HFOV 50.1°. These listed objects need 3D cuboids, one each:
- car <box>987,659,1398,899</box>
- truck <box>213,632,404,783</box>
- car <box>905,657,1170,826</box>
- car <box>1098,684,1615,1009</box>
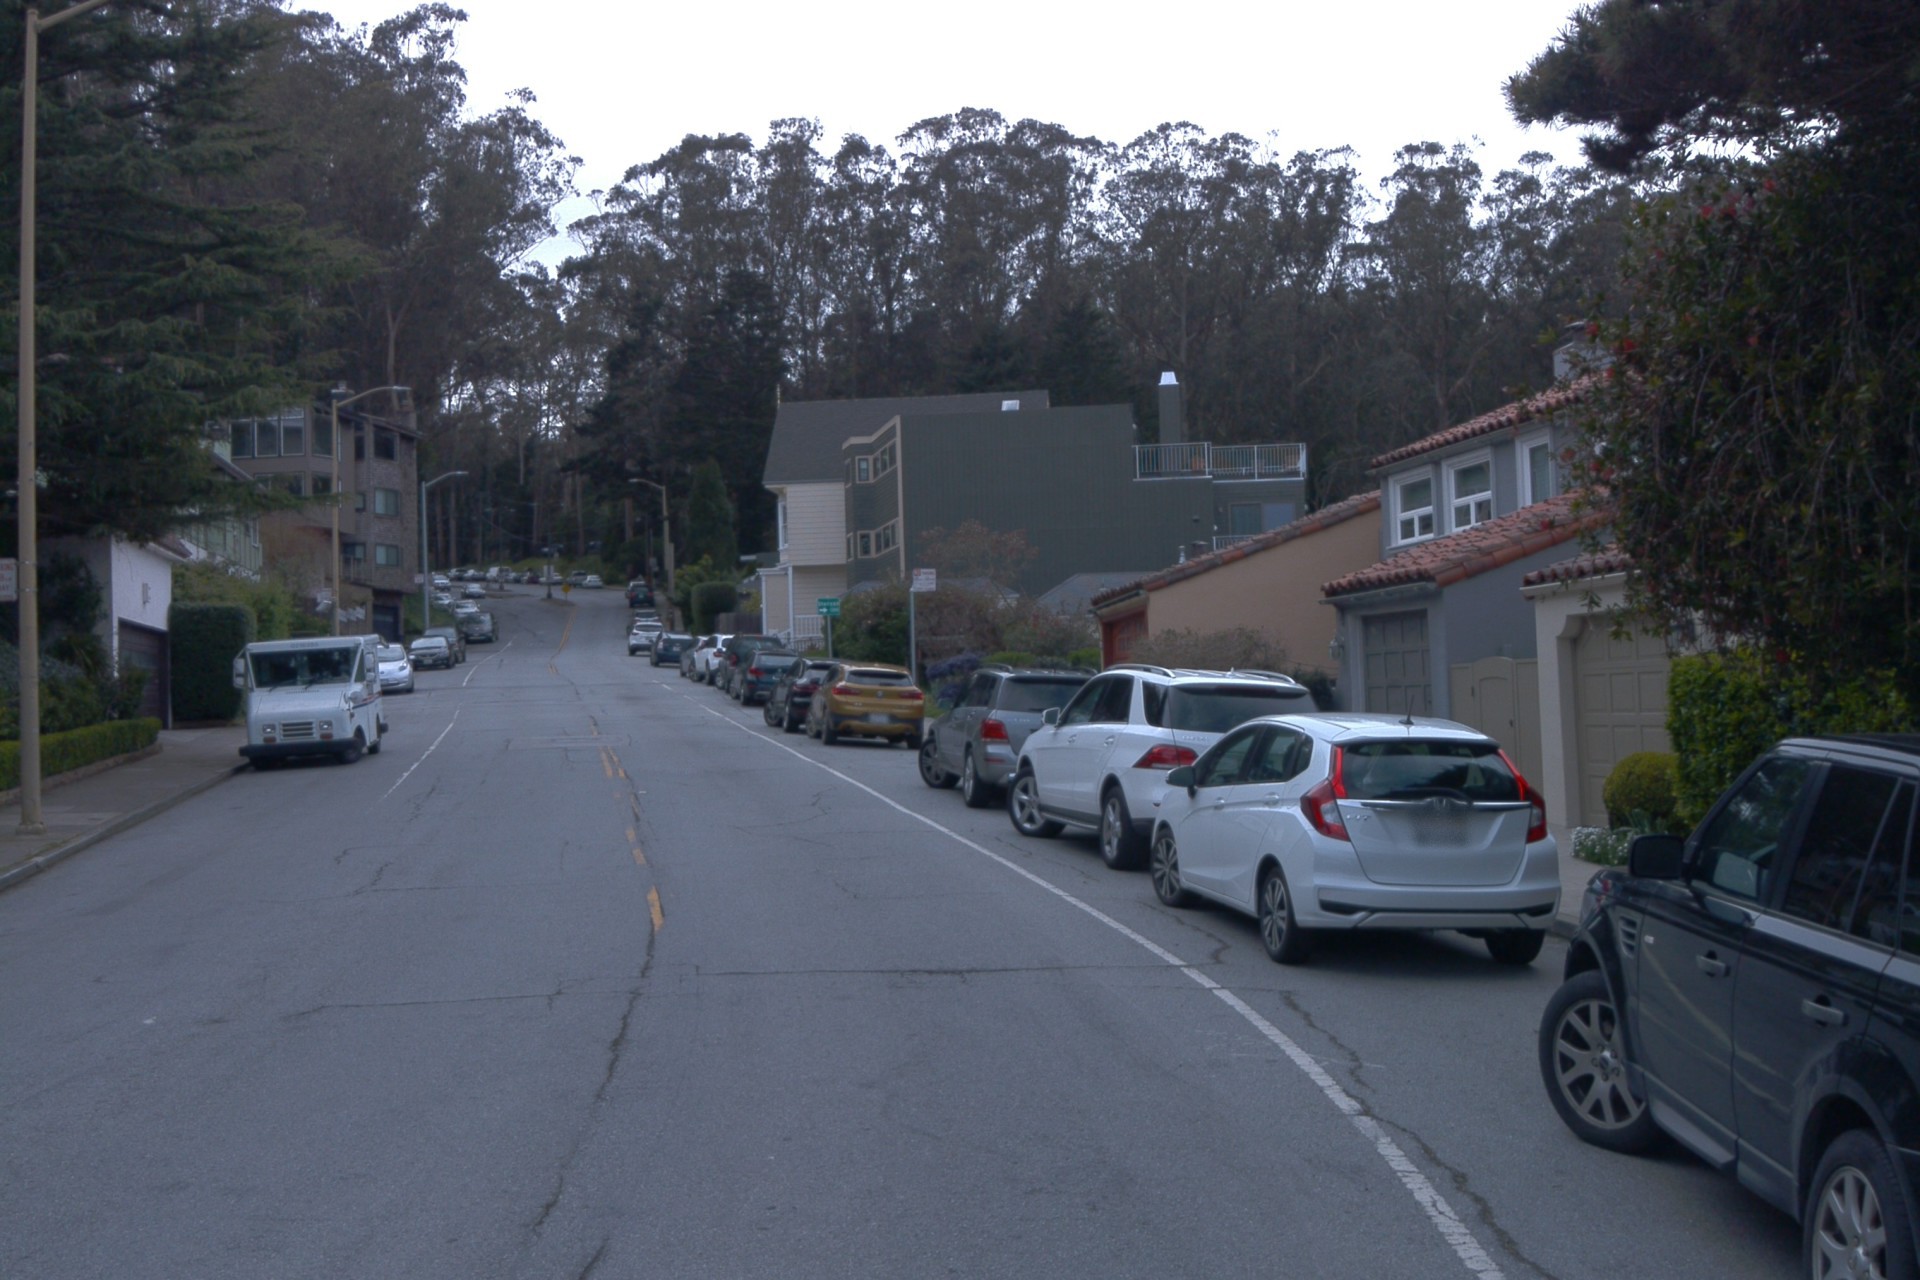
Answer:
[{"bbox_3d":[1.948,1.139,19.151,2.277,1.800,4.977,0,1,-13],"label":"car"},{"bbox_3d":[-11.003,1.067,35.099,2.465,2.340,4.639,0,1,-9],"label":"truck"},{"bbox_3d":[0.815,1.141,25.262,2.239,1.750,4.796,0,1,-11],"label":"car"},{"bbox_3d":[2.492,1.244,14.164,2.028,1.720,4.269,0,1,-11],"label":"car"}]
